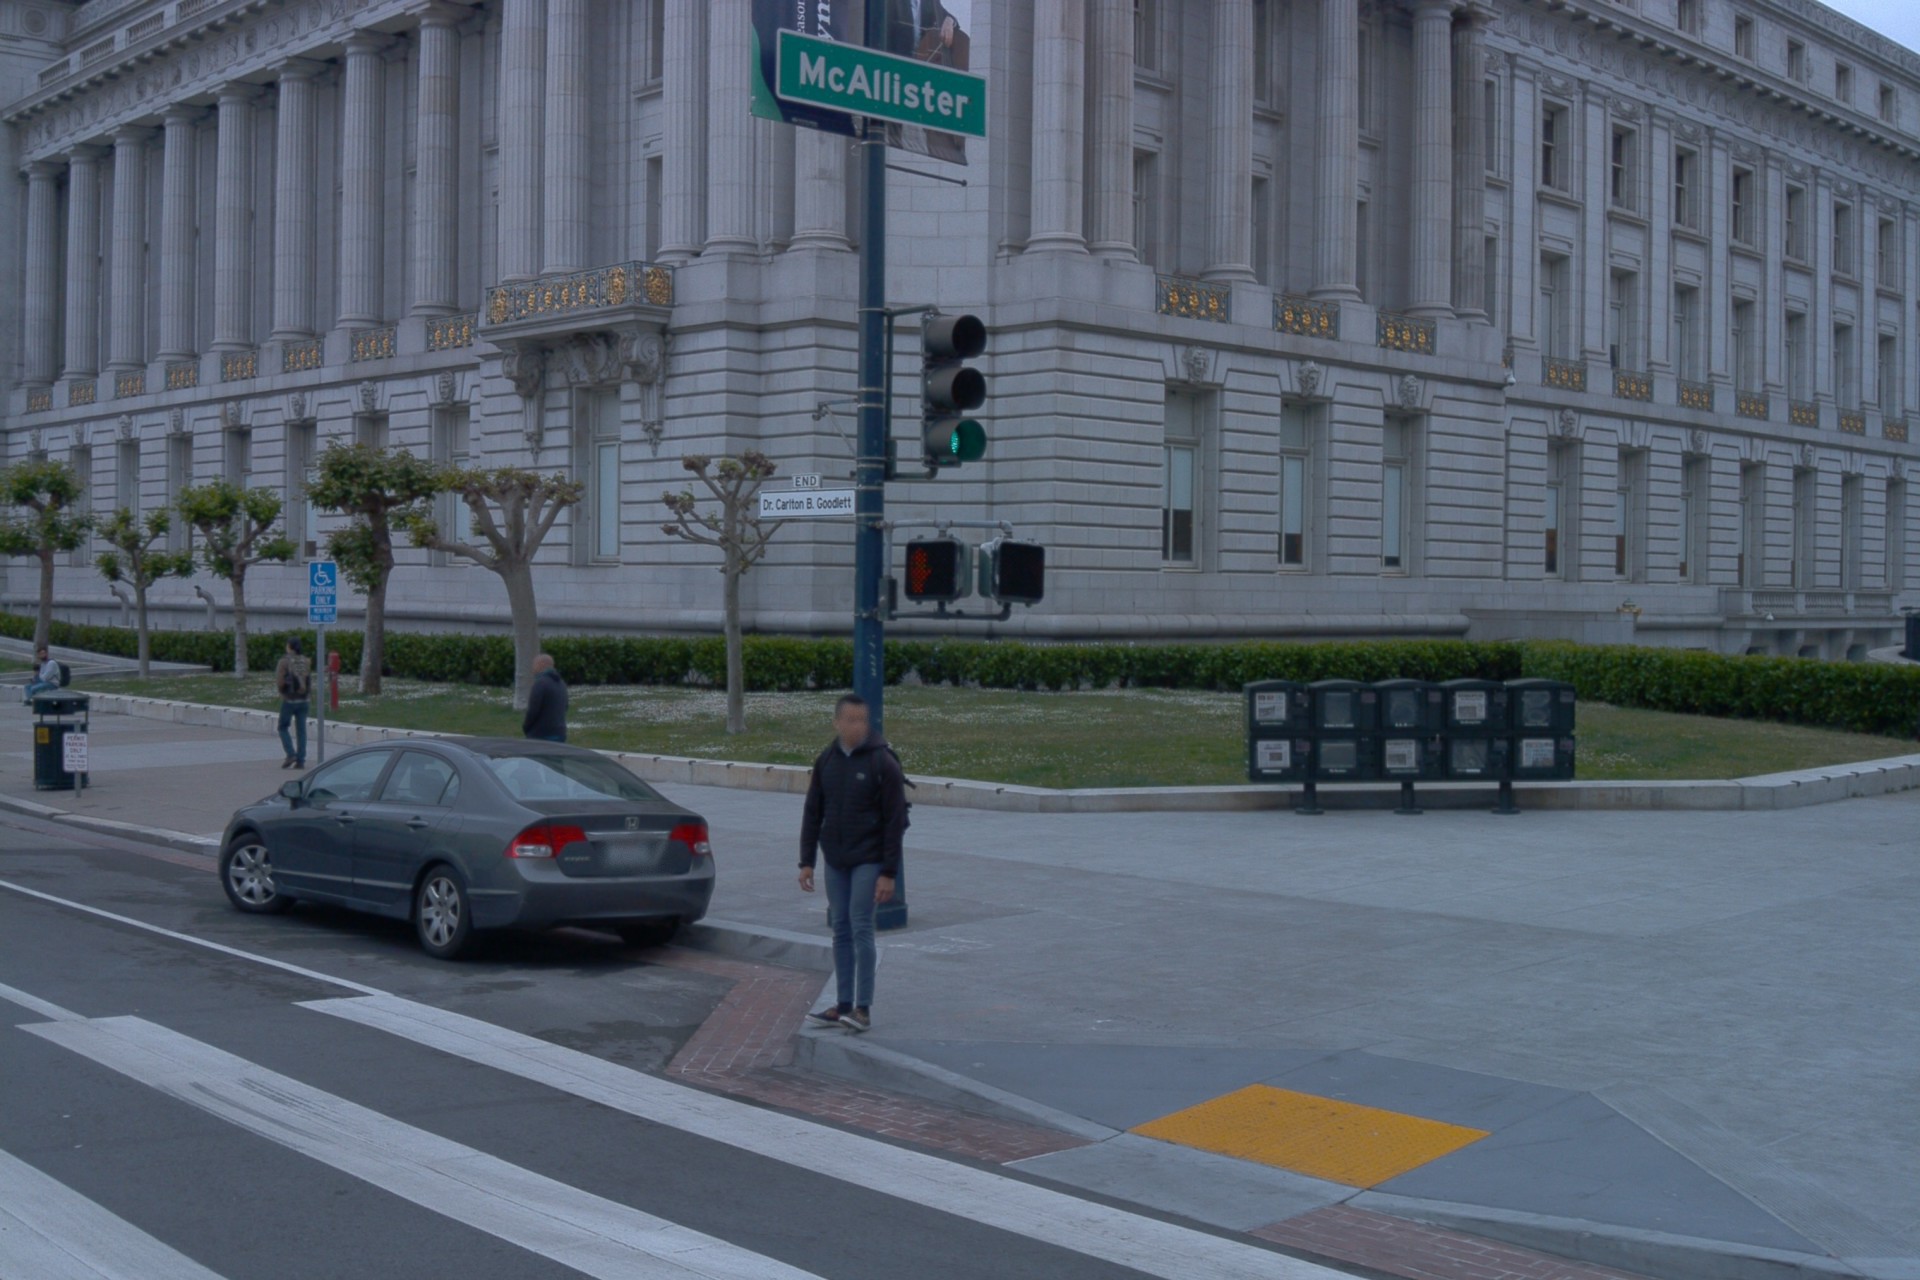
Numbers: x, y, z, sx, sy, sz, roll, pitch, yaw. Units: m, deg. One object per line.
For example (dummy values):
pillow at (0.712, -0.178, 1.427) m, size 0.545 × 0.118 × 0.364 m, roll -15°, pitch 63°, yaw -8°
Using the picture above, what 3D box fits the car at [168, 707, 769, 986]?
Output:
car at (-3.669, 1.337, 14.928) m, size 4.588 × 1.512 × 2.021 m, roll 0°, pitch 1°, yaw 43°

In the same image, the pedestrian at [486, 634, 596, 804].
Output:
pedestrian at (-4.445, 0.821, 21.956) m, size 0.919 × 1.757 × 0.758 m, roll 0°, pitch 1°, yaw 13°

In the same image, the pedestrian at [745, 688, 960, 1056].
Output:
pedestrian at (-0.567, 1.143, 10.591) m, size 0.931 × 1.760 × 0.834 m, roll 0°, pitch 1°, yaw -16°

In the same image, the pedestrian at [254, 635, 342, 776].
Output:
pedestrian at (-8.771, 0.842, 27.347) m, size 0.736 × 1.815 × 1.004 m, roll -1°, pitch 1°, yaw -44°
